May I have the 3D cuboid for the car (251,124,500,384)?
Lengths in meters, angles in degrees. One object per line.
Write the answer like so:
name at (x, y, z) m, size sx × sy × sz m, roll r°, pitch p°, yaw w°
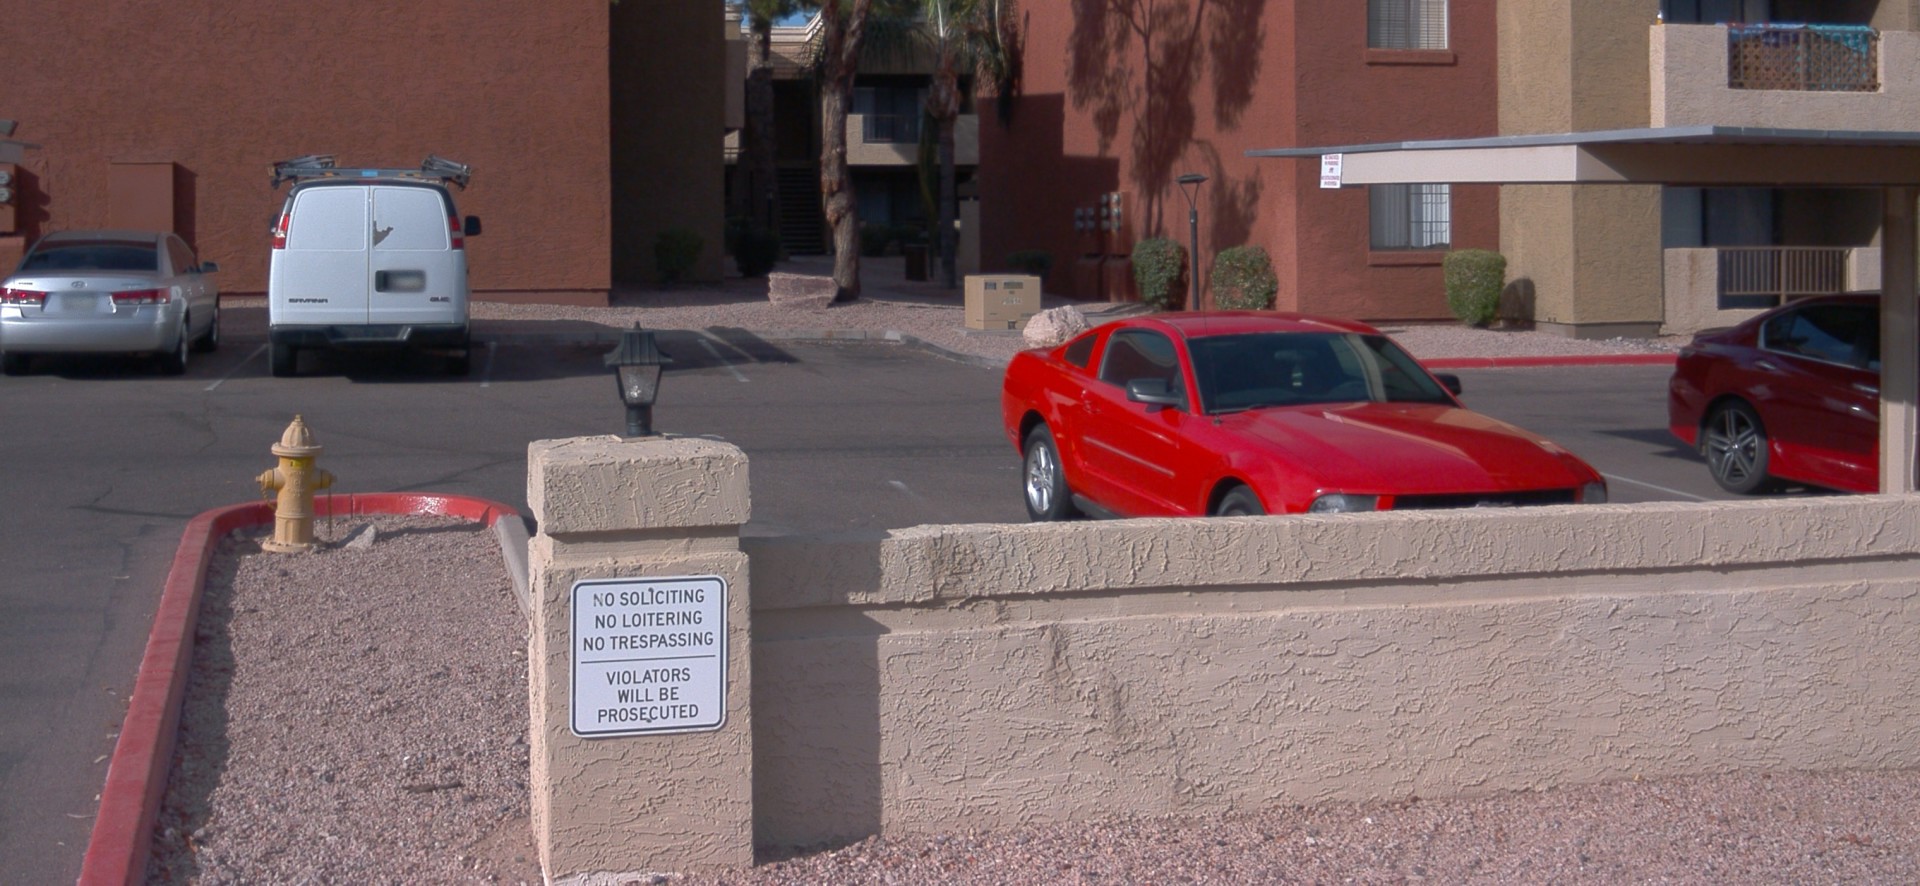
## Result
car at (-6.395, -2.115, 23.301) m, size 2.354 × 2.513 × 5.700 m, roll -1°, pitch 4°, yaw -14°

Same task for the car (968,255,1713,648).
car at (1.788, -0.196, 11.726) m, size 2.196 × 1.695 × 4.779 m, roll -1°, pitch 5°, yaw -17°
